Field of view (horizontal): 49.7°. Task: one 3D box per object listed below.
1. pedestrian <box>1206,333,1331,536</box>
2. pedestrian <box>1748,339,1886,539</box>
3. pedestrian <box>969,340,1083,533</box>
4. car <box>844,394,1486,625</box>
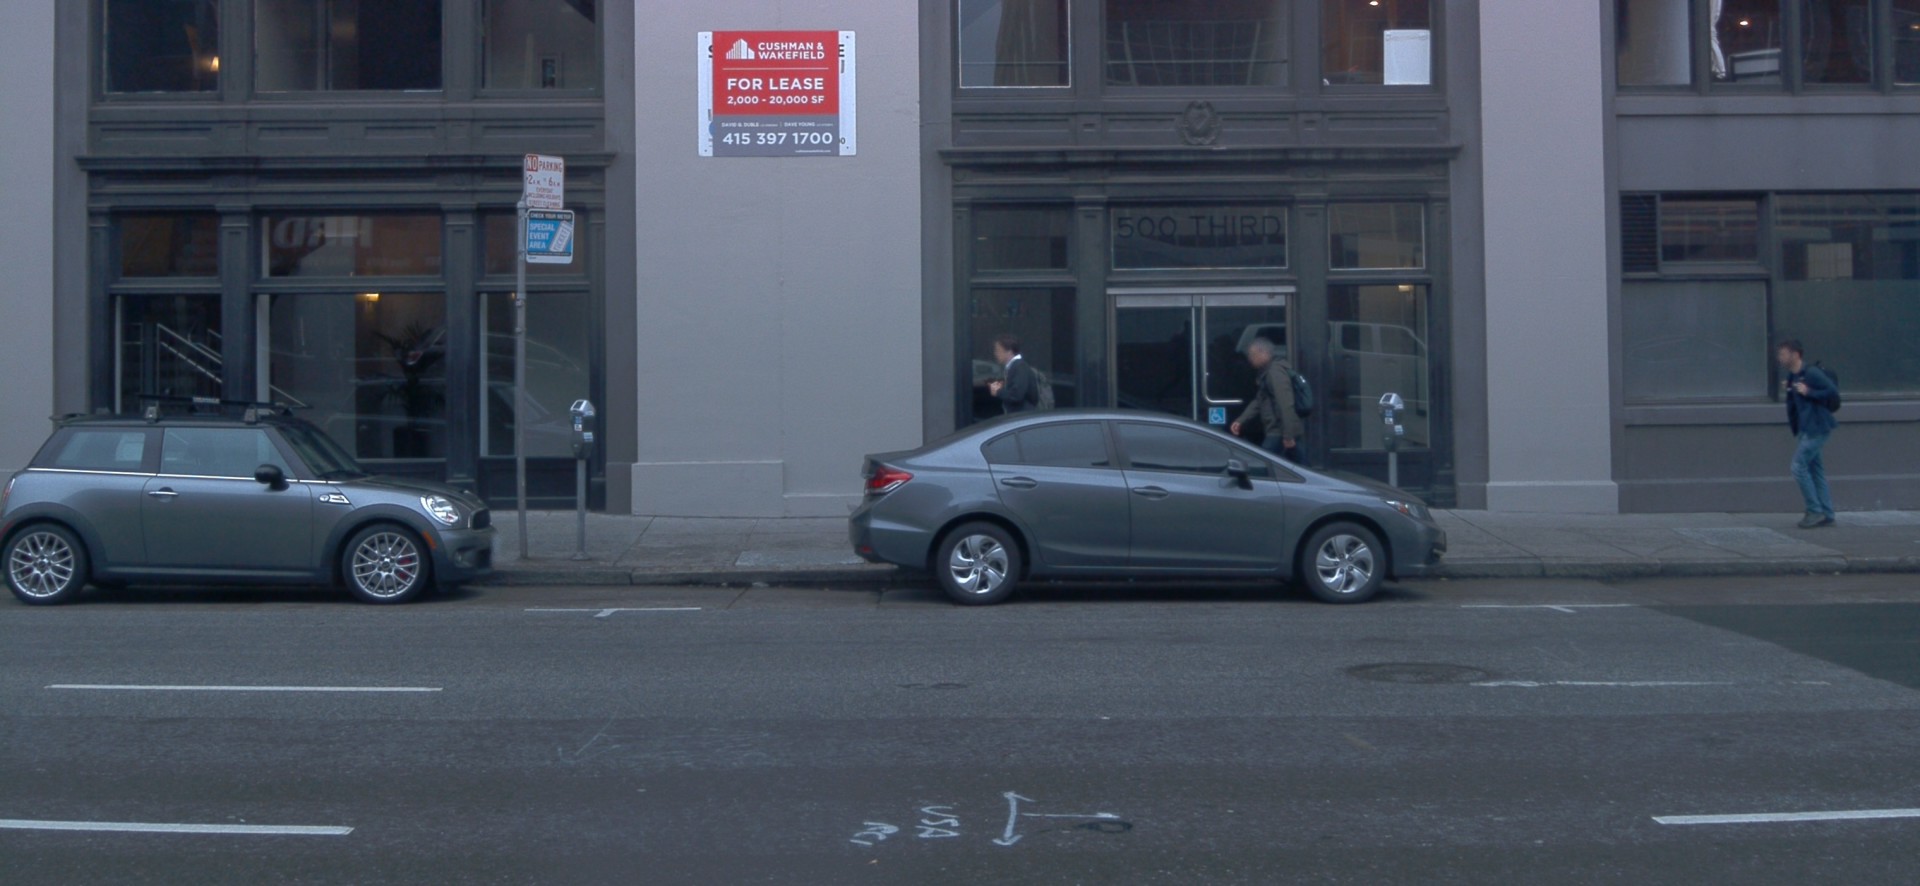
[{"bbox_3d":[2.859,-0.102,19.302,1.010,1.800,0.864,0,1,-2],"label":"pedestrian"},{"bbox_3d":[7.957,-0.057,19.290,0.947,1.770,0.839,0,1,1],"label":"pedestrian"},{"bbox_3d":[0.613,-0.082,19.605,1.027,1.740,0.850,0,1,-1],"label":"pedestrian"},{"bbox_3d":[1.443,0.448,15.866,4.616,1.477,2.025,0,4,-3],"label":"car"}]
